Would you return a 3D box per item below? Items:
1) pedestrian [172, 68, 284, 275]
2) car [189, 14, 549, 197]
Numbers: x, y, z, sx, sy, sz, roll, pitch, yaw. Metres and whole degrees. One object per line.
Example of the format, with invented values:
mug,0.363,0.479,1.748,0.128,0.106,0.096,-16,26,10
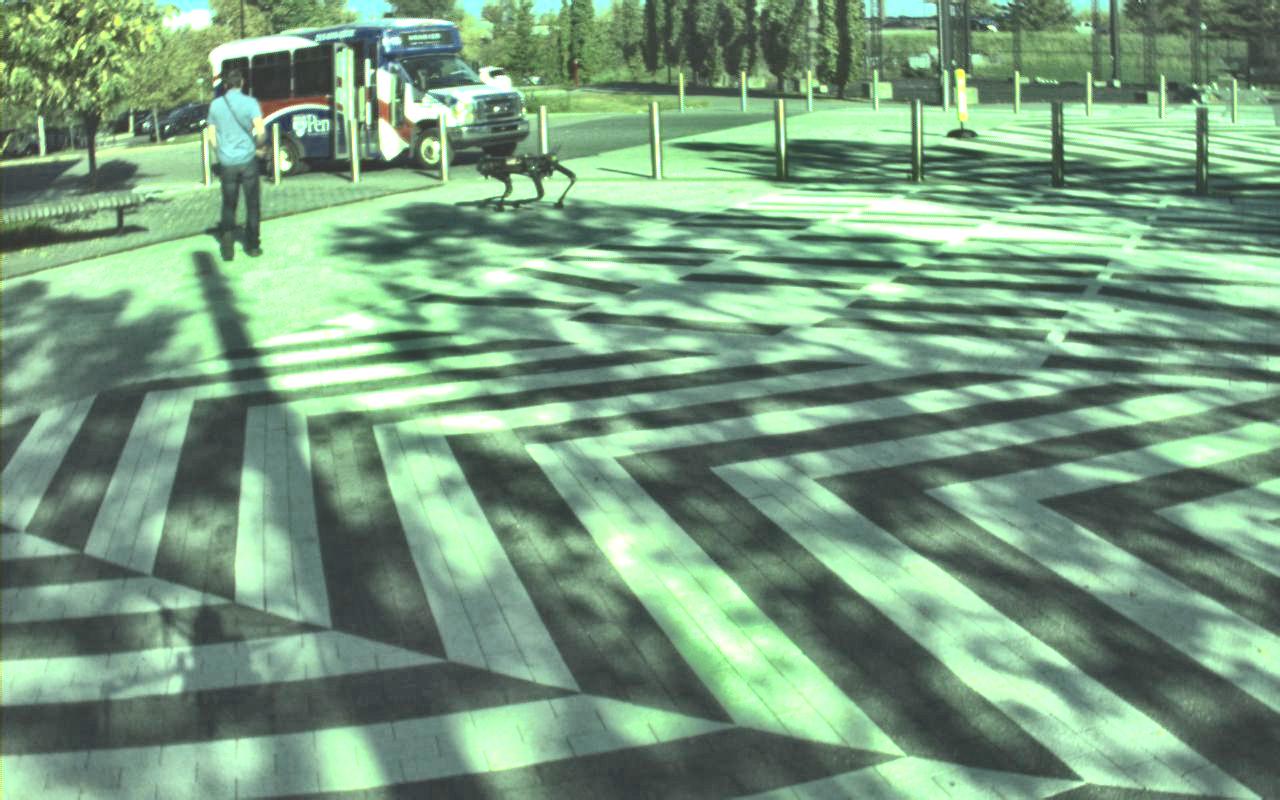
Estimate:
pedestrian,-3.900,-2.170,11.277,0.805,1.826,0.897,-2,16,-3
car,-5.226,-5.448,22.326,6.787,2.916,2.645,9,19,30
